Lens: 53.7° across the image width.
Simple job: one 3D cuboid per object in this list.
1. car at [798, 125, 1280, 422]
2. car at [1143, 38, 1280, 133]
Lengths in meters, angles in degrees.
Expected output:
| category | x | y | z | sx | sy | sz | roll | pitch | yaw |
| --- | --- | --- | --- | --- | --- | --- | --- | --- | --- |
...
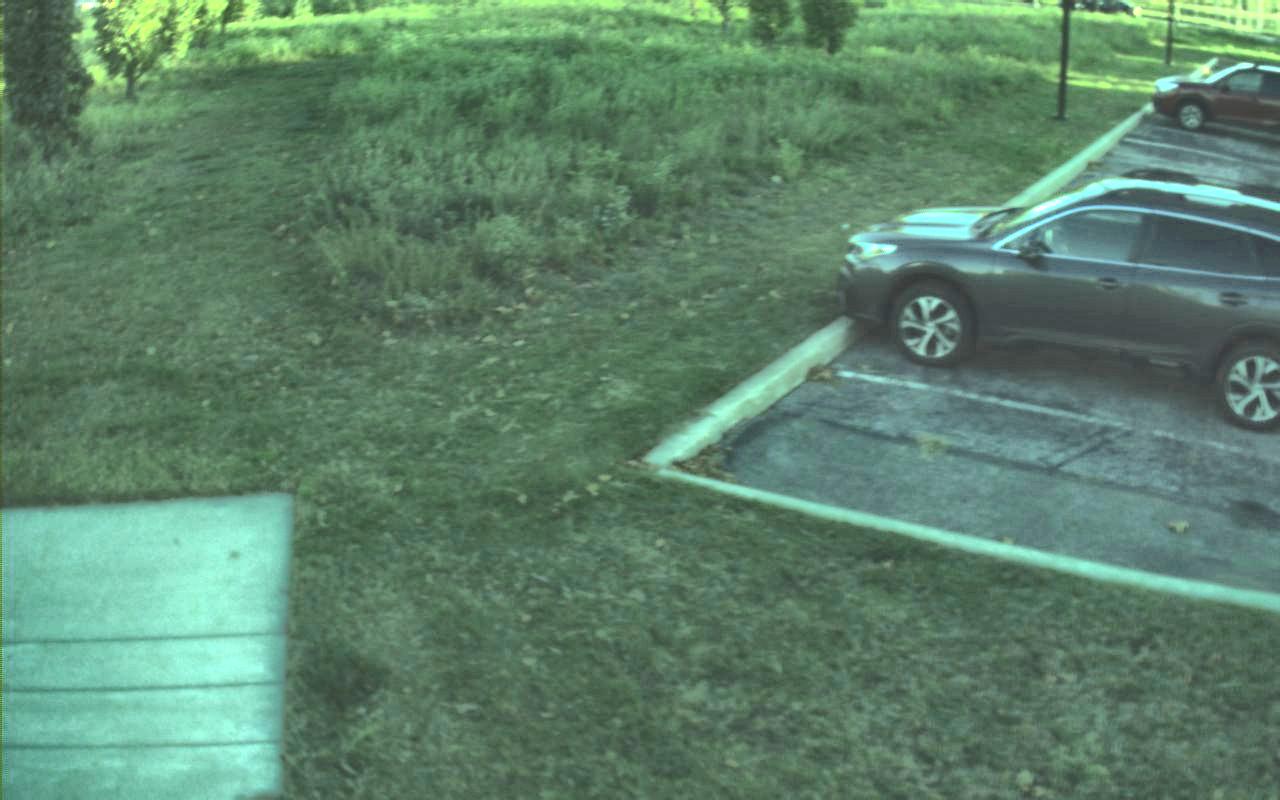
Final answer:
| category | x | y | z | sx | sy | sz | roll | pitch | yaw |
| --- | --- | --- | --- | --- | --- | --- | --- | --- | --- |
| car | 3.691 | -1.164 | 9.590 | 4.498 | 1.687 | 1.979 | 9 | 18 | 30 |
| car | 13.150 | -6.798 | 24.198 | 4.593 | 1.630 | 1.990 | 7 | 18 | 27 |
